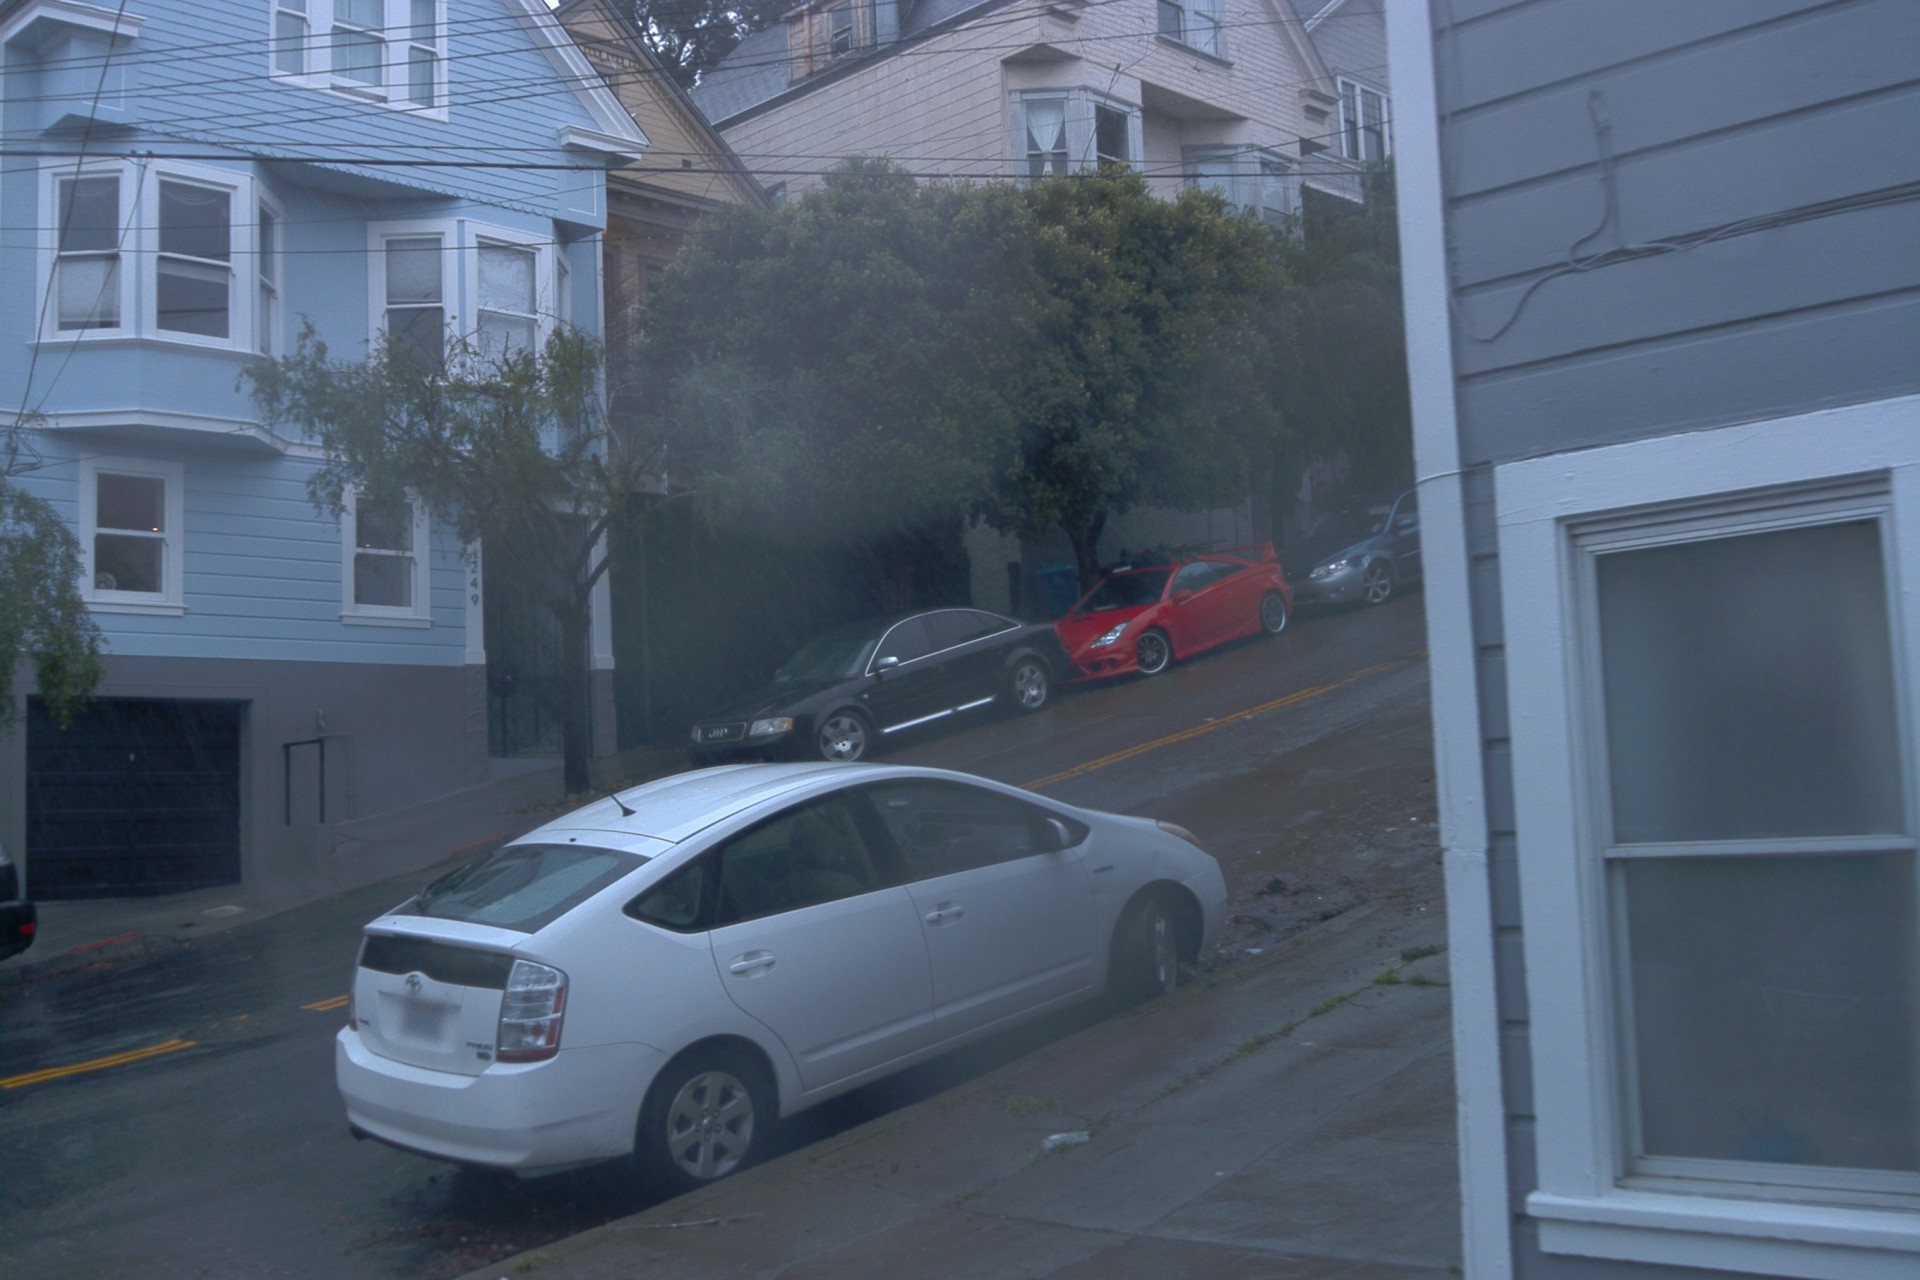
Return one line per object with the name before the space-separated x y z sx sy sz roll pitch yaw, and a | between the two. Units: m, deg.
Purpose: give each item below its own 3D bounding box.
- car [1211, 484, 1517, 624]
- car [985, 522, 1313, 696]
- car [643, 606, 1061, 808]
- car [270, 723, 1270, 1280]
car | 5.830 -1.149 29.279 1.981 1.800 4.754 1 0 44
car | 2.428 -0.359 25.720 2.006 1.990 4.048 1 0 44
car | -1.092 0.649 22.155 4.206 1.970 2.031 0 0 -45
car | -0.701 1.395 9.436 4.193 1.850 2.044 0 0 -43
